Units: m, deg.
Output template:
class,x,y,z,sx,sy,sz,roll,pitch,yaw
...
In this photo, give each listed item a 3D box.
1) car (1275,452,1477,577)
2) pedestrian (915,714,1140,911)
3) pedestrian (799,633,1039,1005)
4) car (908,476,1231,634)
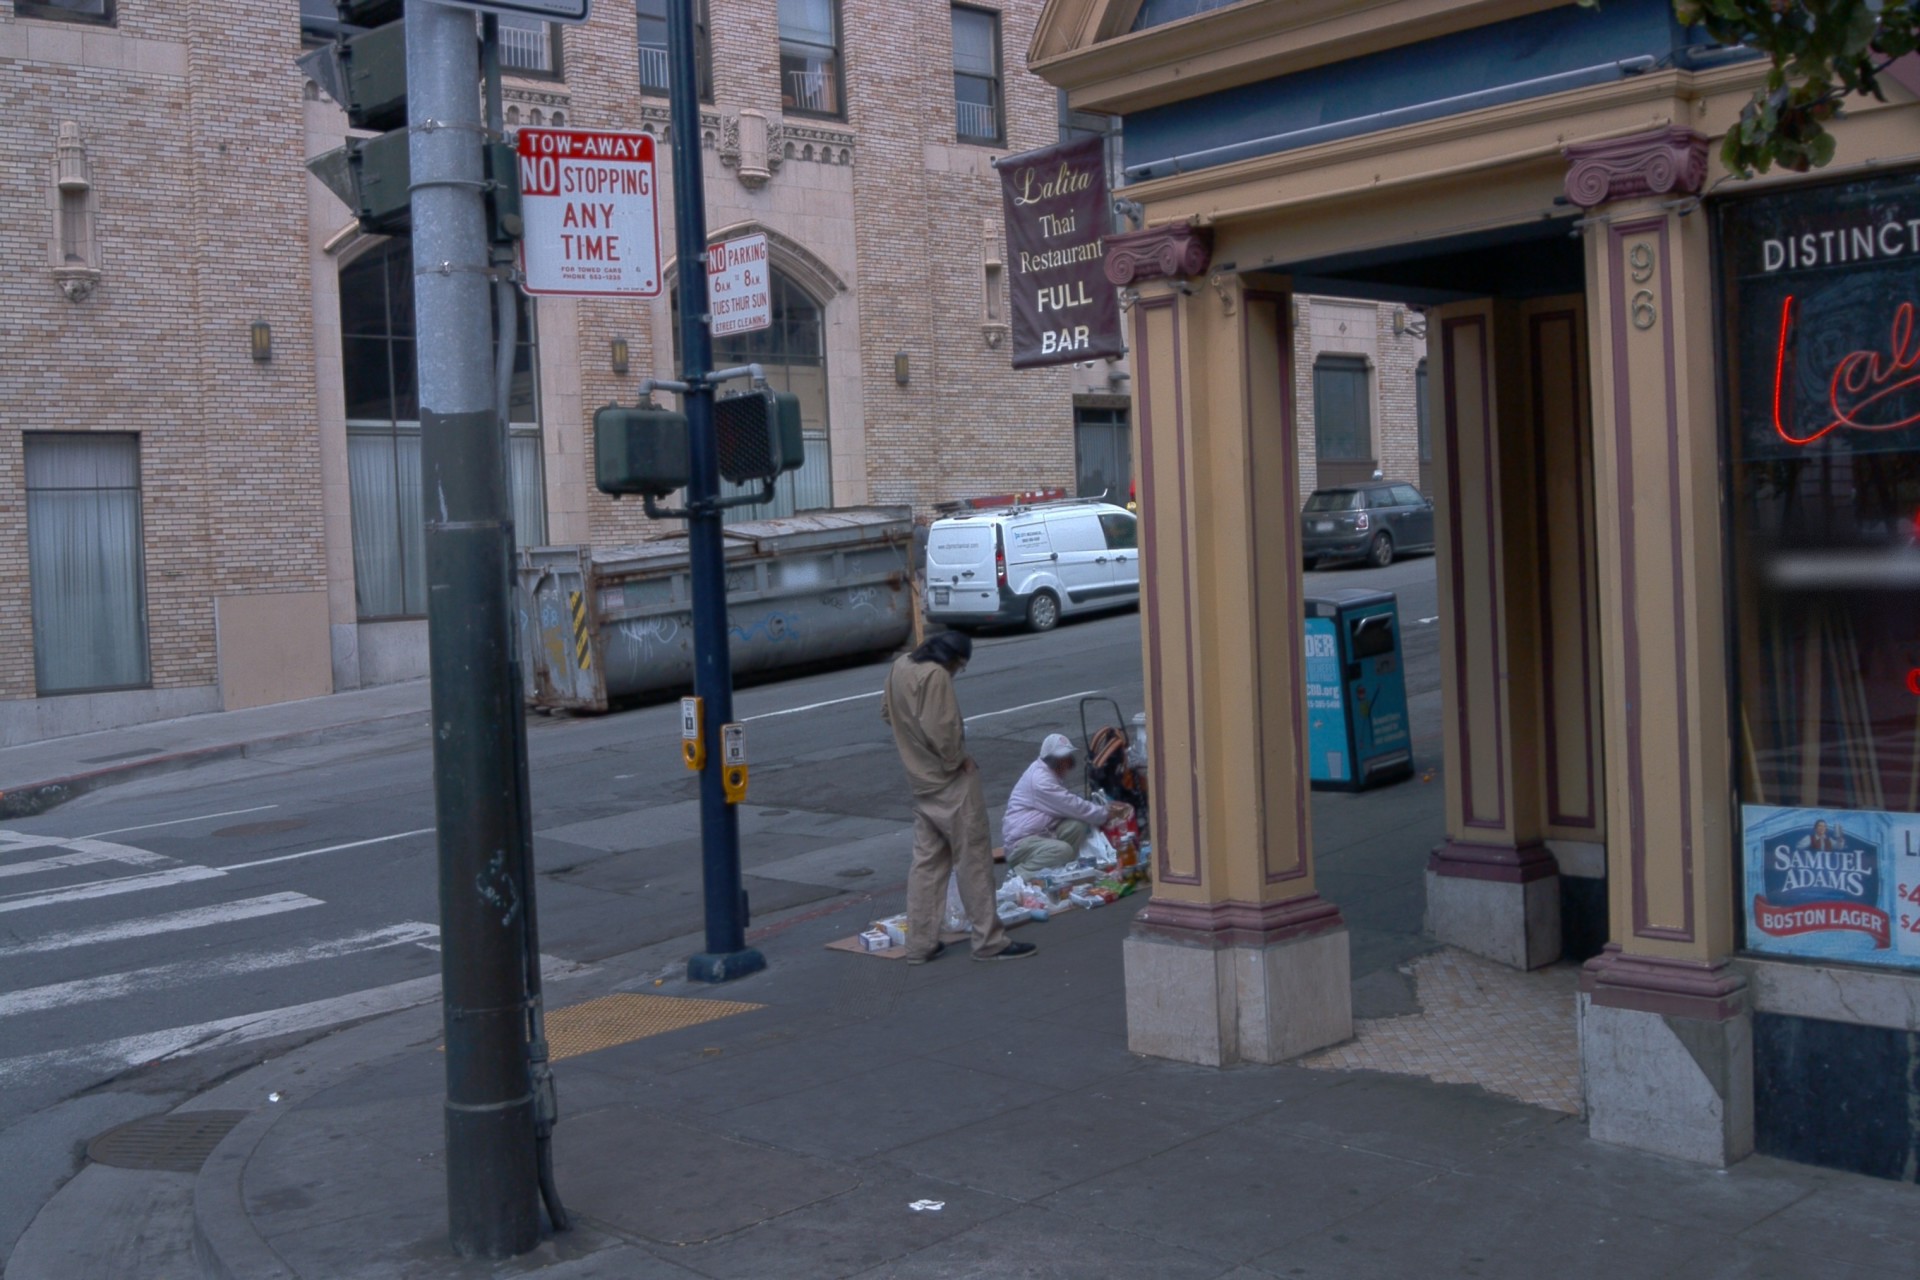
class,x,y,z,sx,sy,sz,roll,pitch,yaw
car,7.311,-2.137,35.938,1.744,1.980,3.738,0,1,44
pedestrian,0.371,0.918,11.307,0.871,0.970,0.871,0,0,-41
pedestrian,-0.182,0.807,9.814,0.888,1.670,0.837,0,0,22
car,1.708,-1.197,30.661,4.848,2.170,2.020,-1,1,-43
